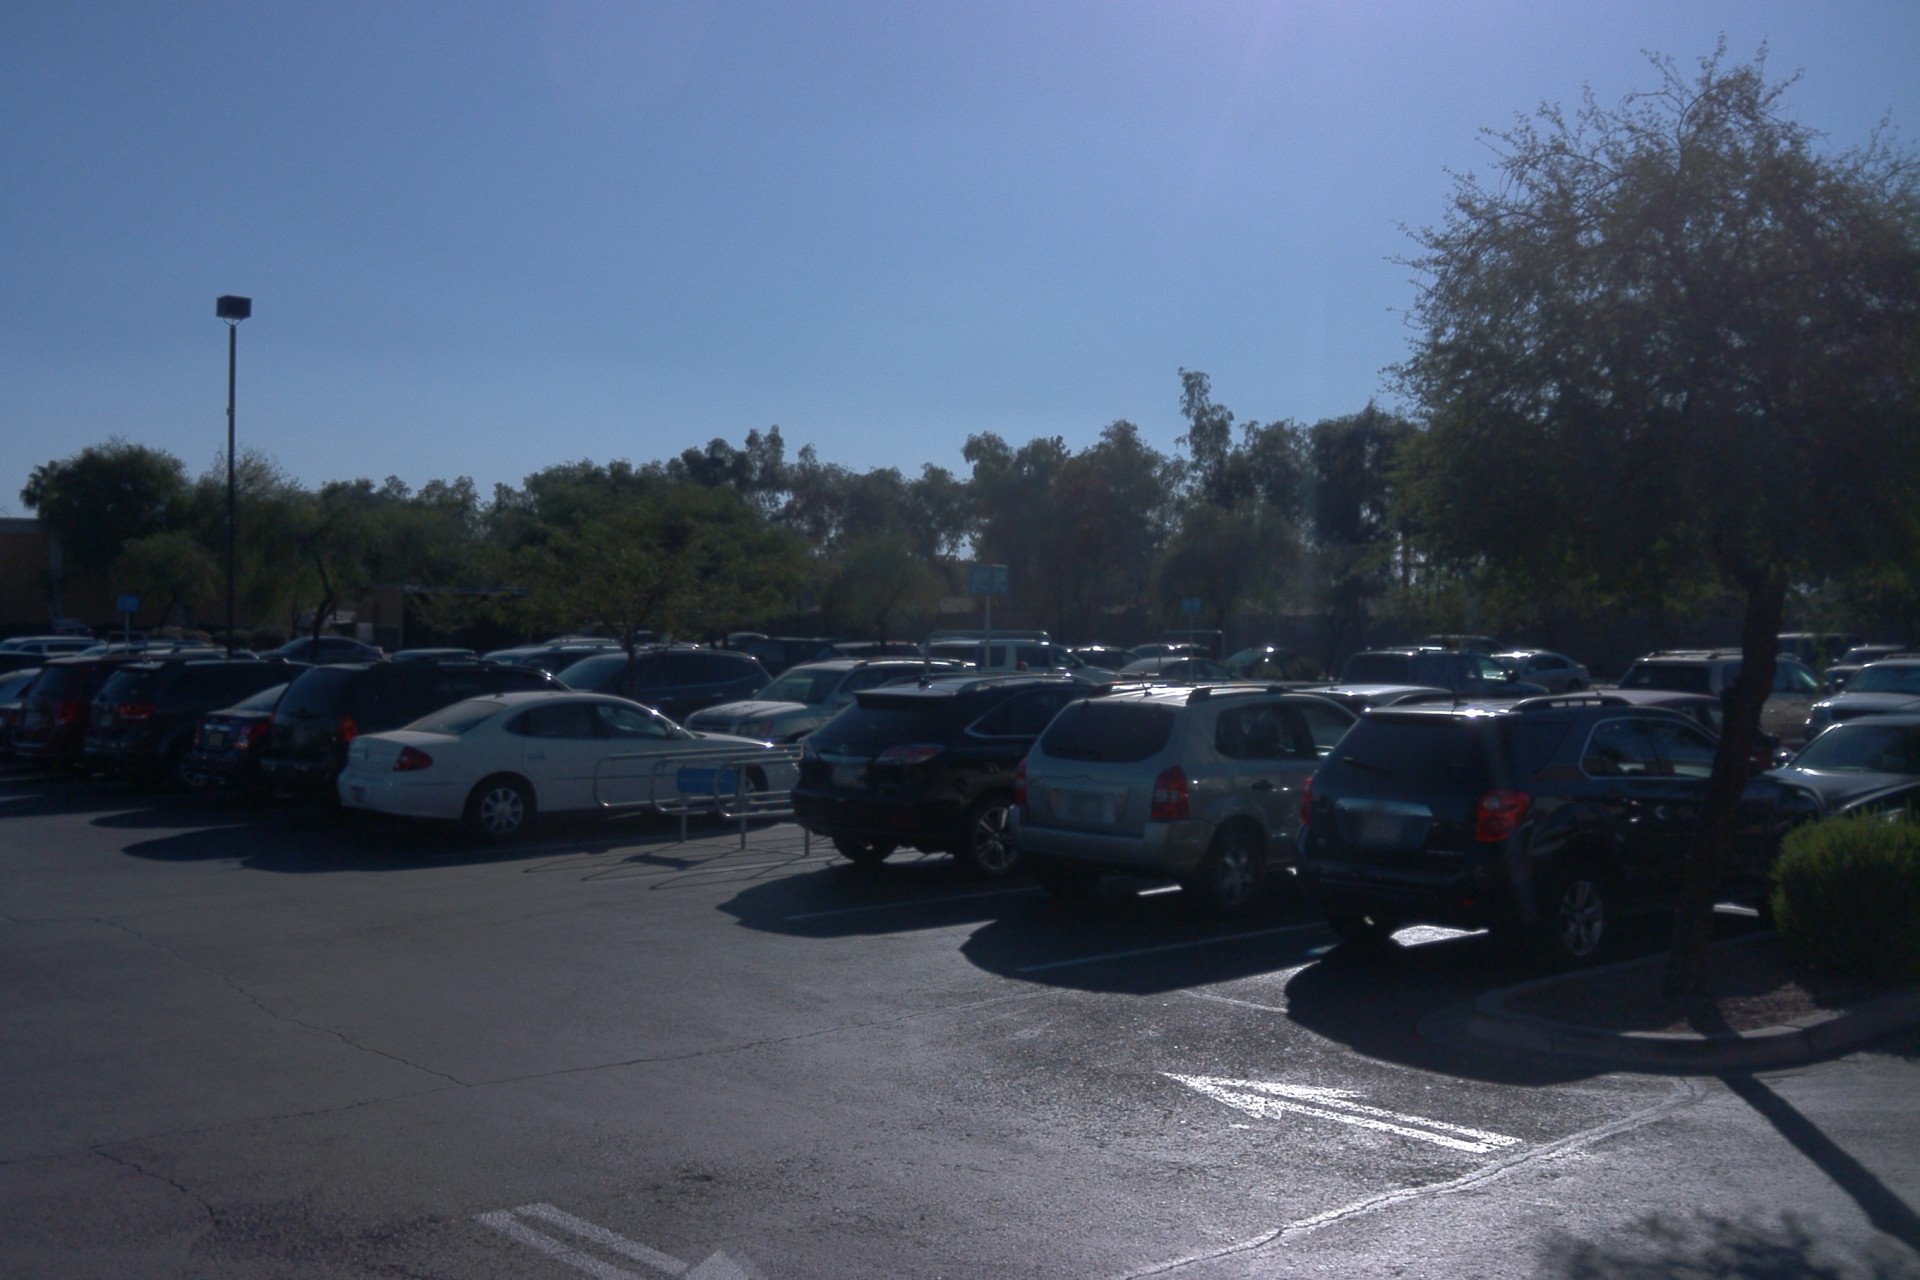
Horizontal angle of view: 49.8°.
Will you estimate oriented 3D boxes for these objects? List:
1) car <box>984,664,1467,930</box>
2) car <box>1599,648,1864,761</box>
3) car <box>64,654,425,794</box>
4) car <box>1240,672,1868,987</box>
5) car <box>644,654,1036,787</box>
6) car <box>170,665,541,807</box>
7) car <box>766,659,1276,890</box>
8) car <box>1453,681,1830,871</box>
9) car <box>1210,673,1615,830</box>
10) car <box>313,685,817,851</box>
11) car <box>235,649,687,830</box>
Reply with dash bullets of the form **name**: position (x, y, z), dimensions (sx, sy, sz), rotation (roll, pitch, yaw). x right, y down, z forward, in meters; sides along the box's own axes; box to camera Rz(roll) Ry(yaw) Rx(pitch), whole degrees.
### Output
- **car**: position (2.215, 1.129, 16.556), dimensions (1.863, 1.860, 3.881), rotation (0, -1, 44)
- **car**: position (12.352, 0.987, 32.967), dimensions (4.588, 1.690, 1.921), rotation (1, -1, -39)
- **car**: position (-9.419, 1.057, 27.409), dimensions (4.134, 1.720, 1.806), rotation (1, -1, -43)
- **car**: position (4.261, 1.147, 14.415), dimensions (4.663, 1.830, 1.995), rotation (1, -1, -41)
- **car**: position (-1.520, 1.019, 27.857), dimensions (2.222, 1.620, 5.086), rotation (0, -1, 45)
- **car**: position (-7.455, 1.129, 25.704), dimensions (4.039, 1.610, 1.815), rotation (1, -1, -43)
- **car**: position (0.649, 1.110, 18.806), dimensions (4.518, 1.850, 1.910), rotation (1, -1, -40)
- **car**: position (6.955, 1.279, 20.894), dimensions (4.012, 1.690, 1.903), rotation (1, -1, -43)
- **car**: position (5.051, 1.138, 22.709), dimensions (4.641, 1.540, 1.969), rotation (1, -1, -41)
- **car**: position (-4.056, 1.257, 21.788), dimensions (4.892, 1.510, 1.978), rotation (1, -1, -42)
- **car**: position (-5.672, 1.060, 23.844), dimensions (4.580, 1.890, 2.196), rotation (1, -1, -43)
